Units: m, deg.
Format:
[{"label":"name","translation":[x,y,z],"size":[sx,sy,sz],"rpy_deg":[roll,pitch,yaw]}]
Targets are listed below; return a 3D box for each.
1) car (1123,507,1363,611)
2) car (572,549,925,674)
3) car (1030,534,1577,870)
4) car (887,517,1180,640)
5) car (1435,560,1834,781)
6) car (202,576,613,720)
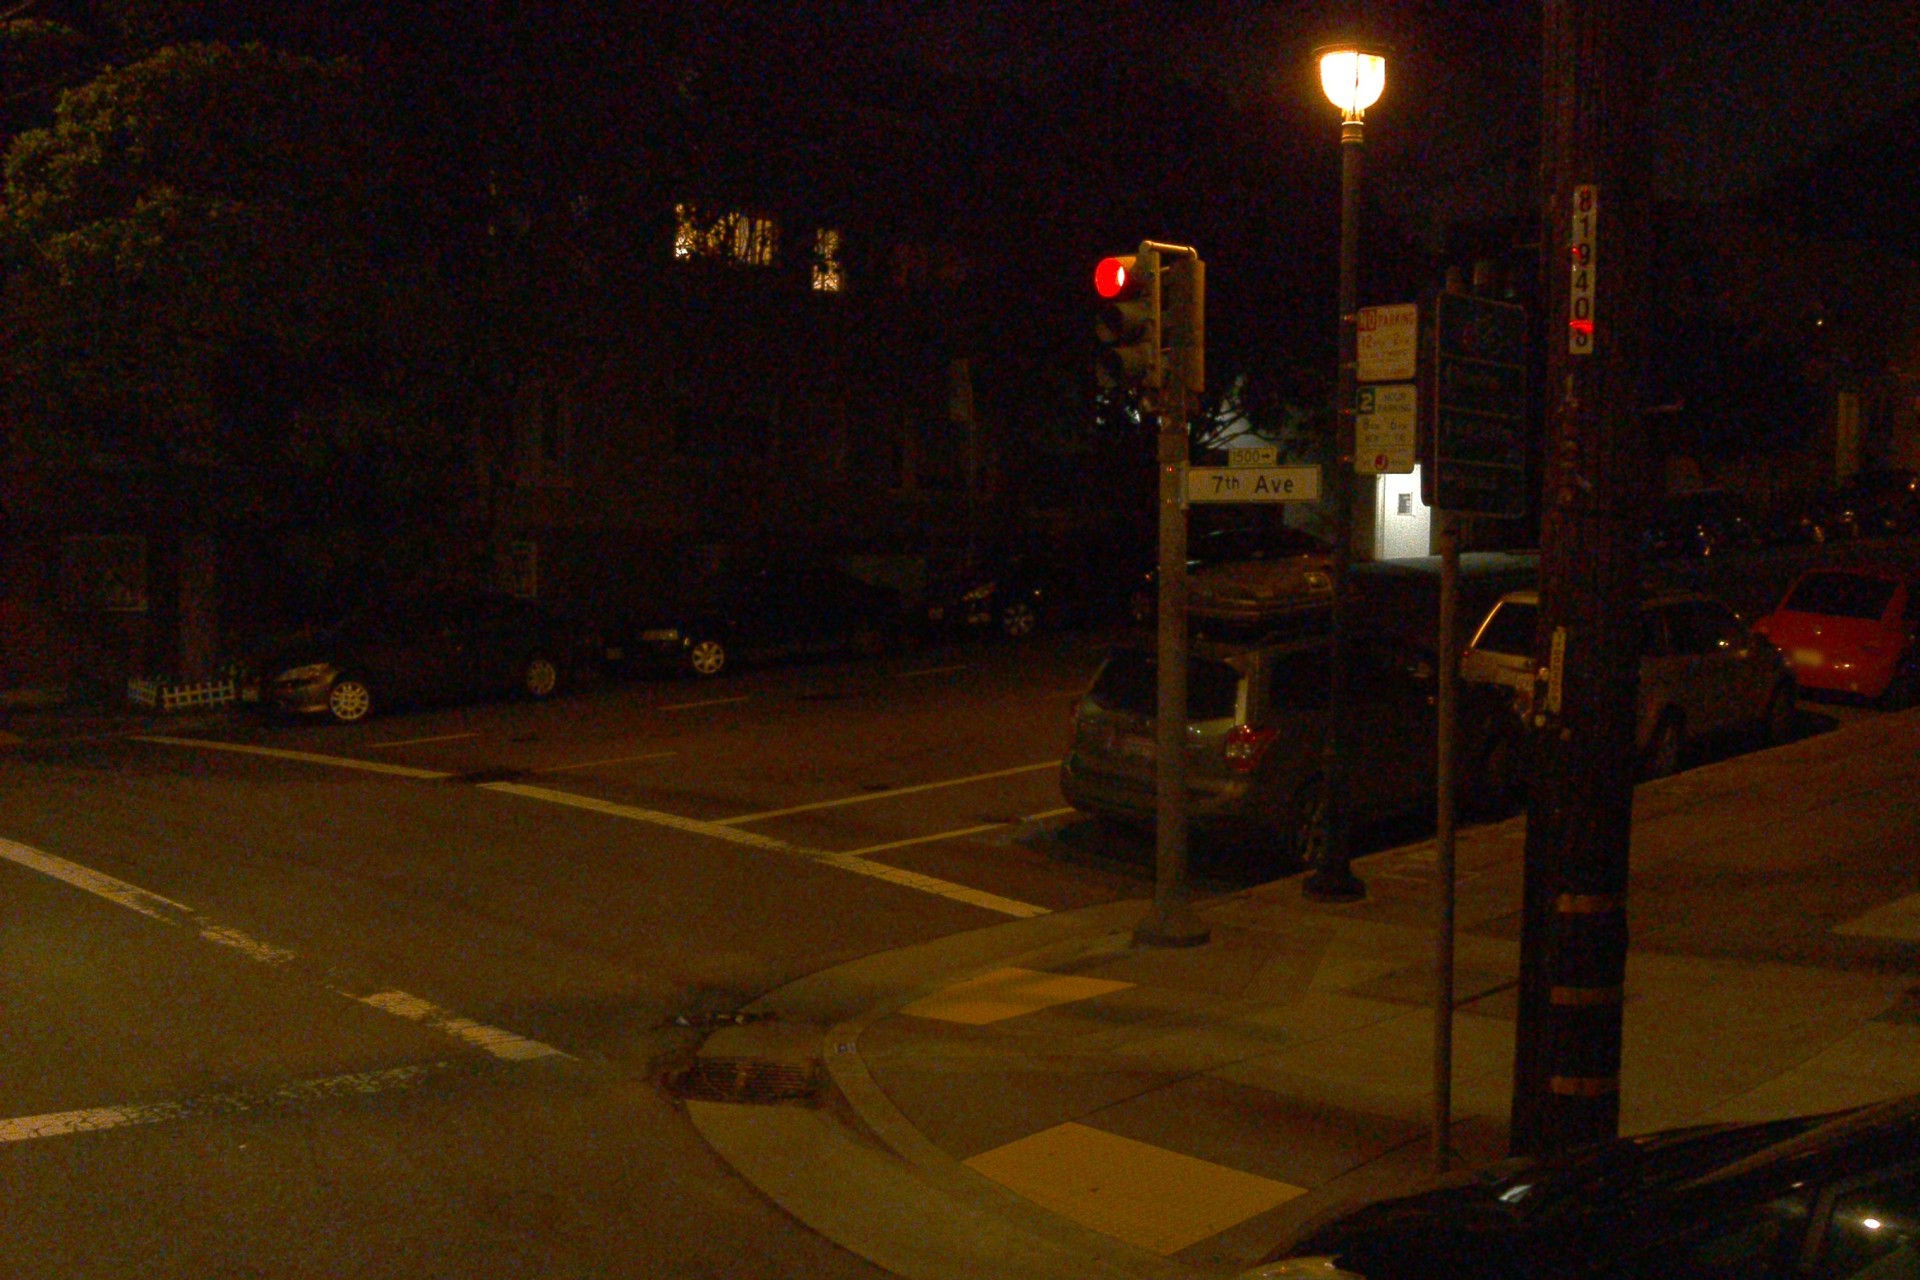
[{"label":"car","translation":[5.054,-1.369,36.121],"size":[1.761,1.660,4.654],"rpy_deg":[1,0,44]},{"label":"car","translation":[-2.899,-0.366,28.734],"size":[4.646,1.610,2.000],"rpy_deg":[0,0,-43]},{"label":"car","translation":[2.759,0.405,15.667],"size":[1.882,2.200,4.520],"rpy_deg":[1,0,44]},{"label":"car","translation":[1.231,-0.916,32.481],"size":[4.629,1.790,2.012],"rpy_deg":[0,0,-45]},{"label":"car","translation":[6.333,0.248,18.926],"size":[1.845,1.810,4.298],"rpy_deg":[1,0,43]},{"label":"car","translation":[-6.646,0.088,24.974],"size":[2.012,1.590,4.471],"rpy_deg":[1,0,41]}]
